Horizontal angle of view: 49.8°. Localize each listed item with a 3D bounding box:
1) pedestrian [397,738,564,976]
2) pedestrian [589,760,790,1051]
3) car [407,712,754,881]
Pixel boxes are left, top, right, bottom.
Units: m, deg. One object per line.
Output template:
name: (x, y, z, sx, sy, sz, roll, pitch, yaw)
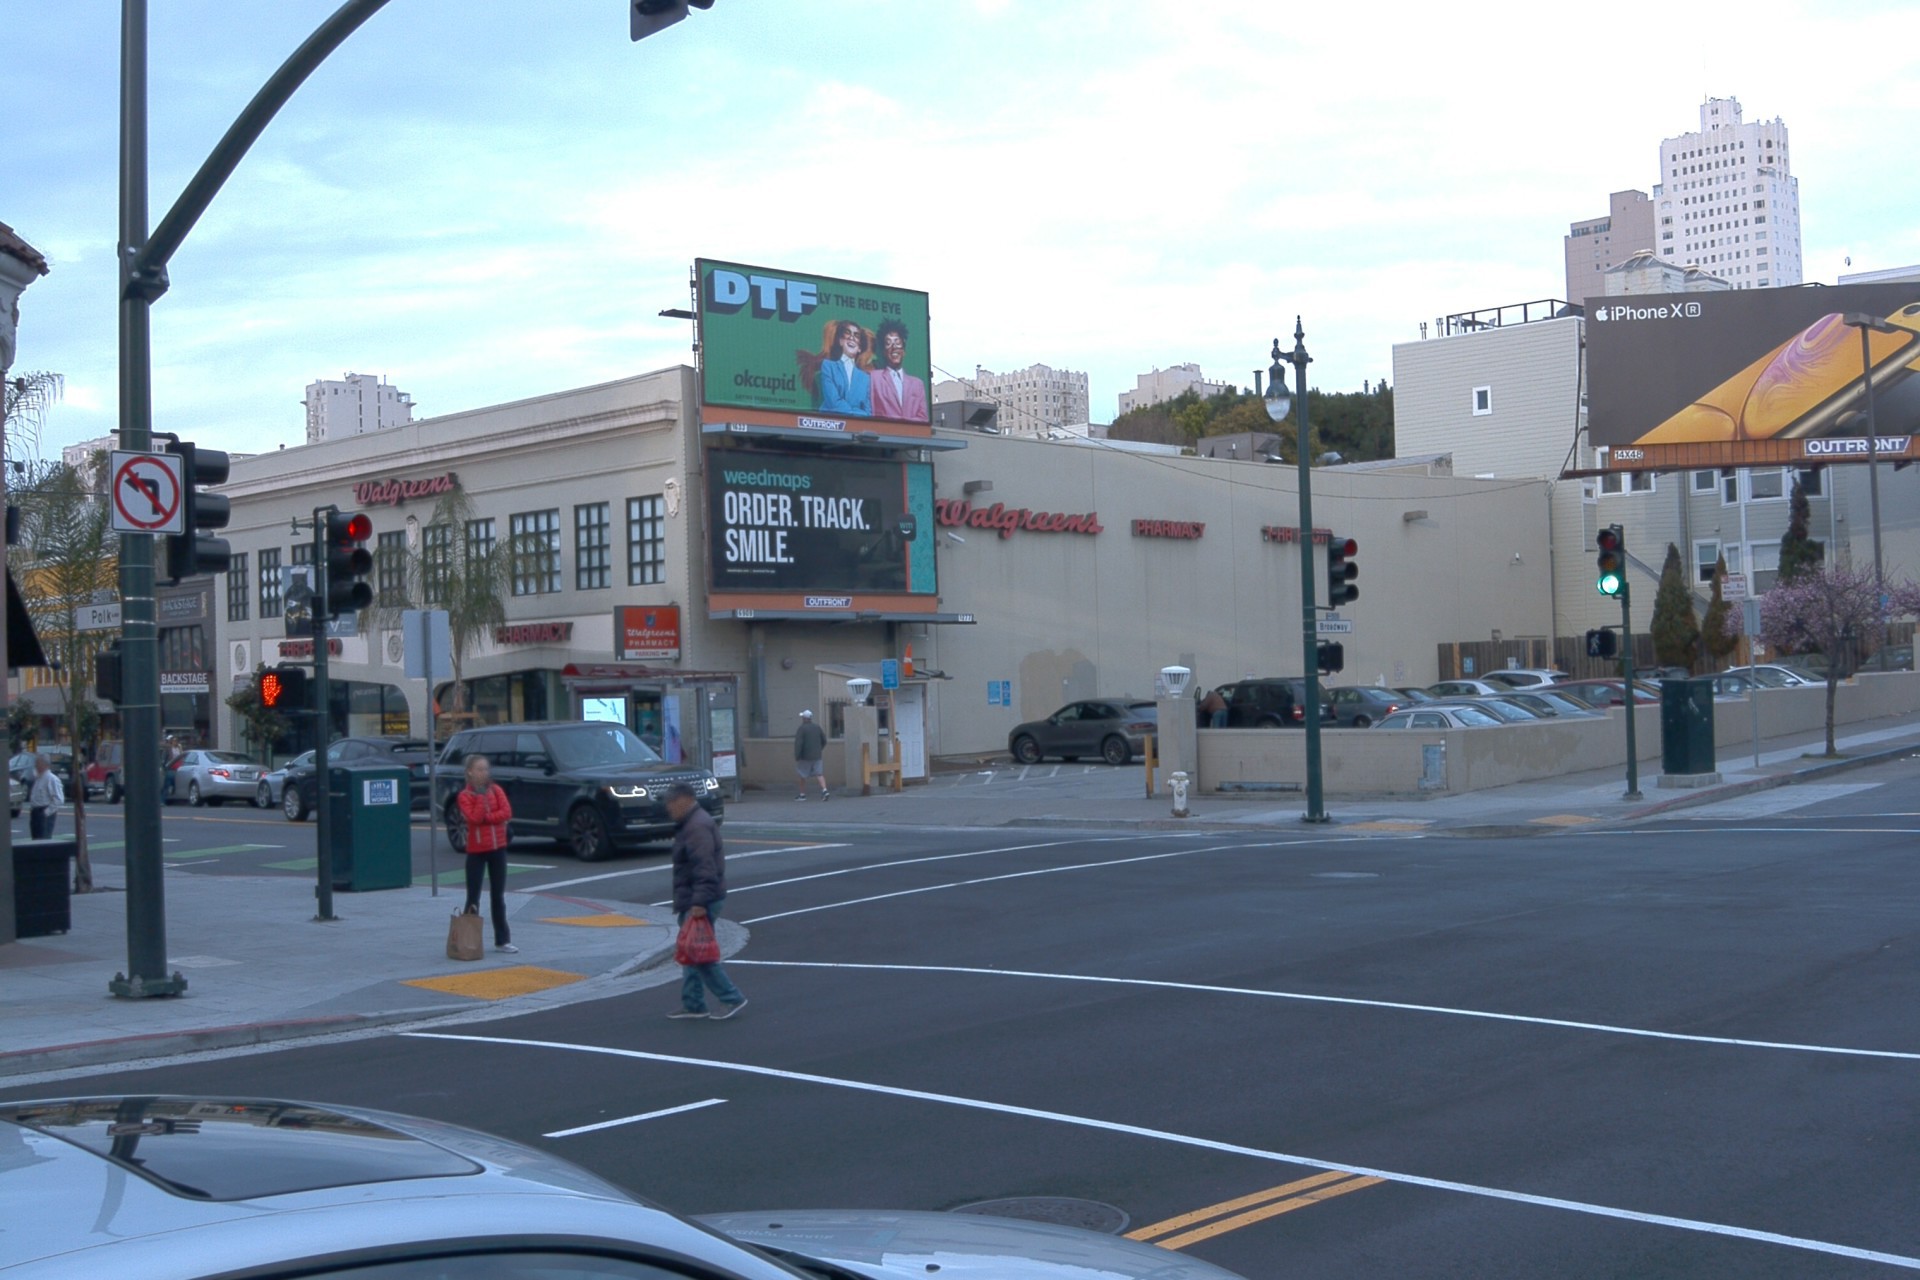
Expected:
pedestrian: (-4.092, 1.816, 17.676, 0.861, 1.879, 1.070, 2, 1, 40)
pedestrian: (-1.712, 1.648, 13.144, 0.914, 1.680, 0.856, 1, 1, 31)
car: (-5.408, 2.085, 28.993, 2.225, 1.890, 5.170, 0, 1, -45)
